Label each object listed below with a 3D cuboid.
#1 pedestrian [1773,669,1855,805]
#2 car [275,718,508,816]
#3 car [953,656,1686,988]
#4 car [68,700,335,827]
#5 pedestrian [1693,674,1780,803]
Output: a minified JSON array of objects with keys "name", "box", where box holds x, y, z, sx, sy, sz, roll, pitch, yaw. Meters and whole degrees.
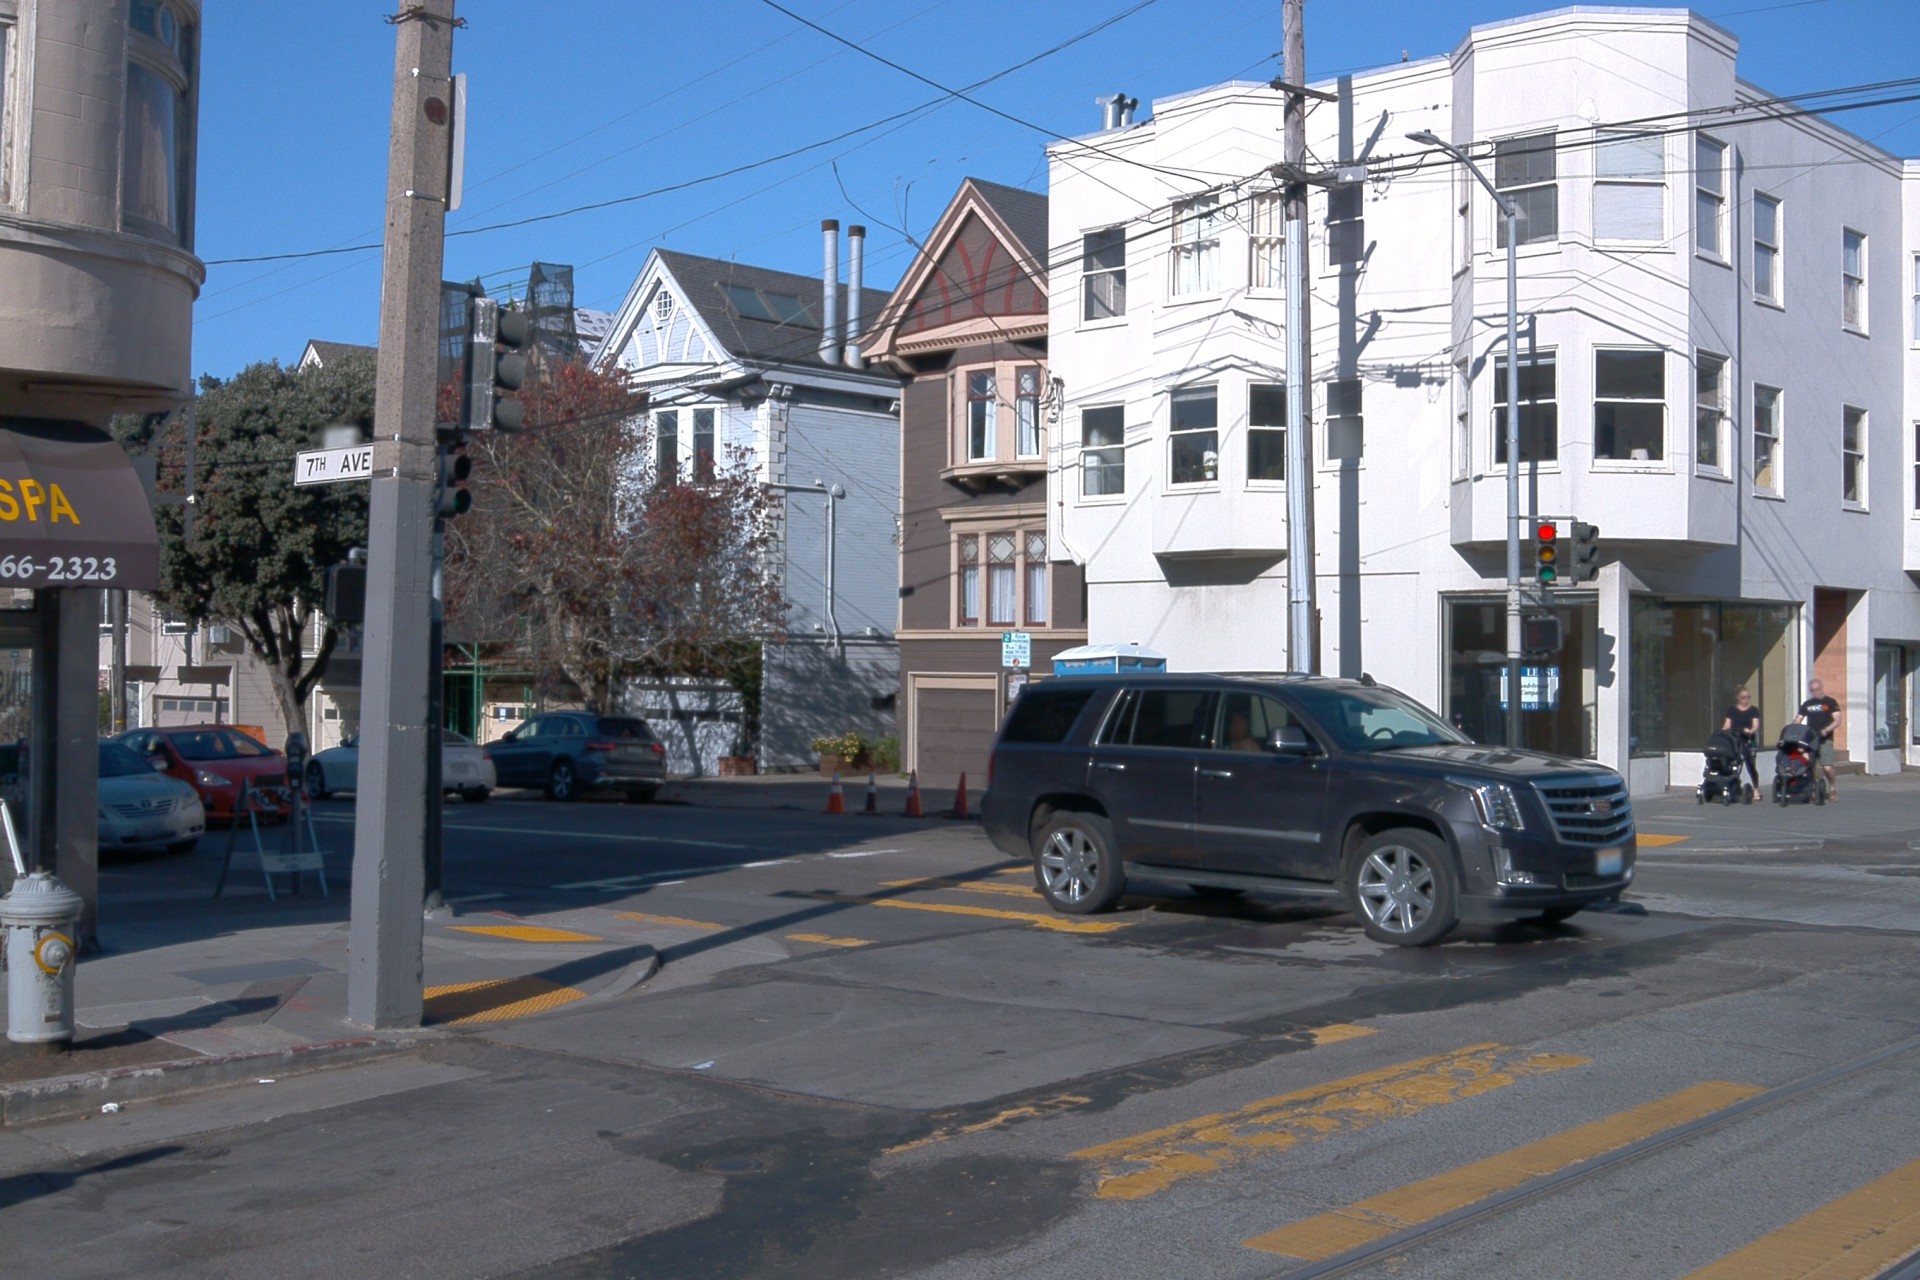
[{"name":"pedestrian","box":[11.803,1.323,28.649,0.763,1.820,0.953,0,0,41]},{"name":"car","box":[-9.763,2.120,35.449,2.007,1.390,4.242,0,0,-45]},{"name":"car","box":[2.588,1.191,15.977,2.284,2.090,5.186,0,0,-45]},{"name":"car","box":[-10.870,1.696,29.584,4.066,1.560,1.991,0,0,44]},{"name":"pedestrian","box":[10.763,1.342,28.720,0.832,1.720,1.019,0,0,39]}]
